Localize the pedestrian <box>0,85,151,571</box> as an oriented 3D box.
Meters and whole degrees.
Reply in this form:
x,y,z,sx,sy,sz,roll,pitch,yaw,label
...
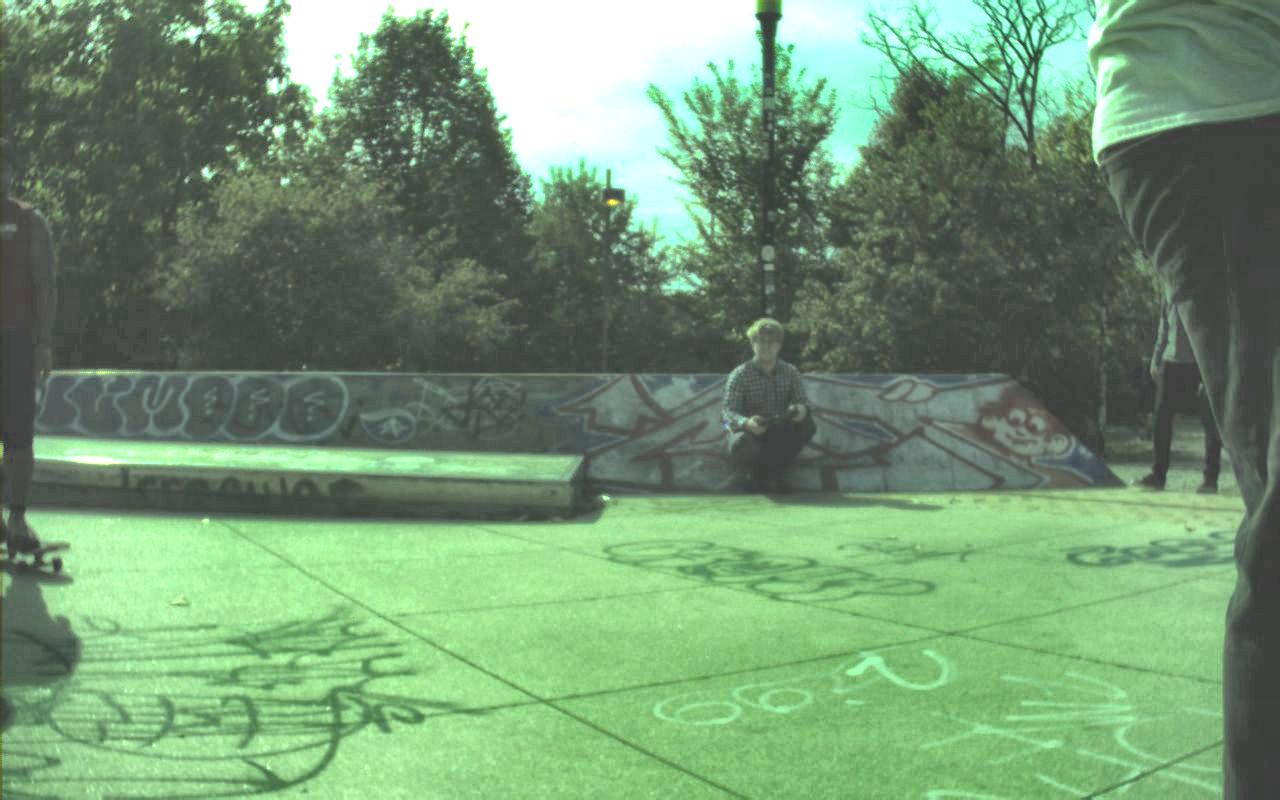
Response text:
x,y,z,sx,sy,sz,roll,pitch,yaw,label
-2.493,-0.263,4.474,0.804,1.769,0.791,1,0,39,pedestrian

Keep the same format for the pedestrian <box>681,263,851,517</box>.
x,y,z,sx,sy,sz,roll,pitch,yaw,label
0.822,-0.075,8.036,0.865,1.520,0.833,1,0,23,pedestrian
